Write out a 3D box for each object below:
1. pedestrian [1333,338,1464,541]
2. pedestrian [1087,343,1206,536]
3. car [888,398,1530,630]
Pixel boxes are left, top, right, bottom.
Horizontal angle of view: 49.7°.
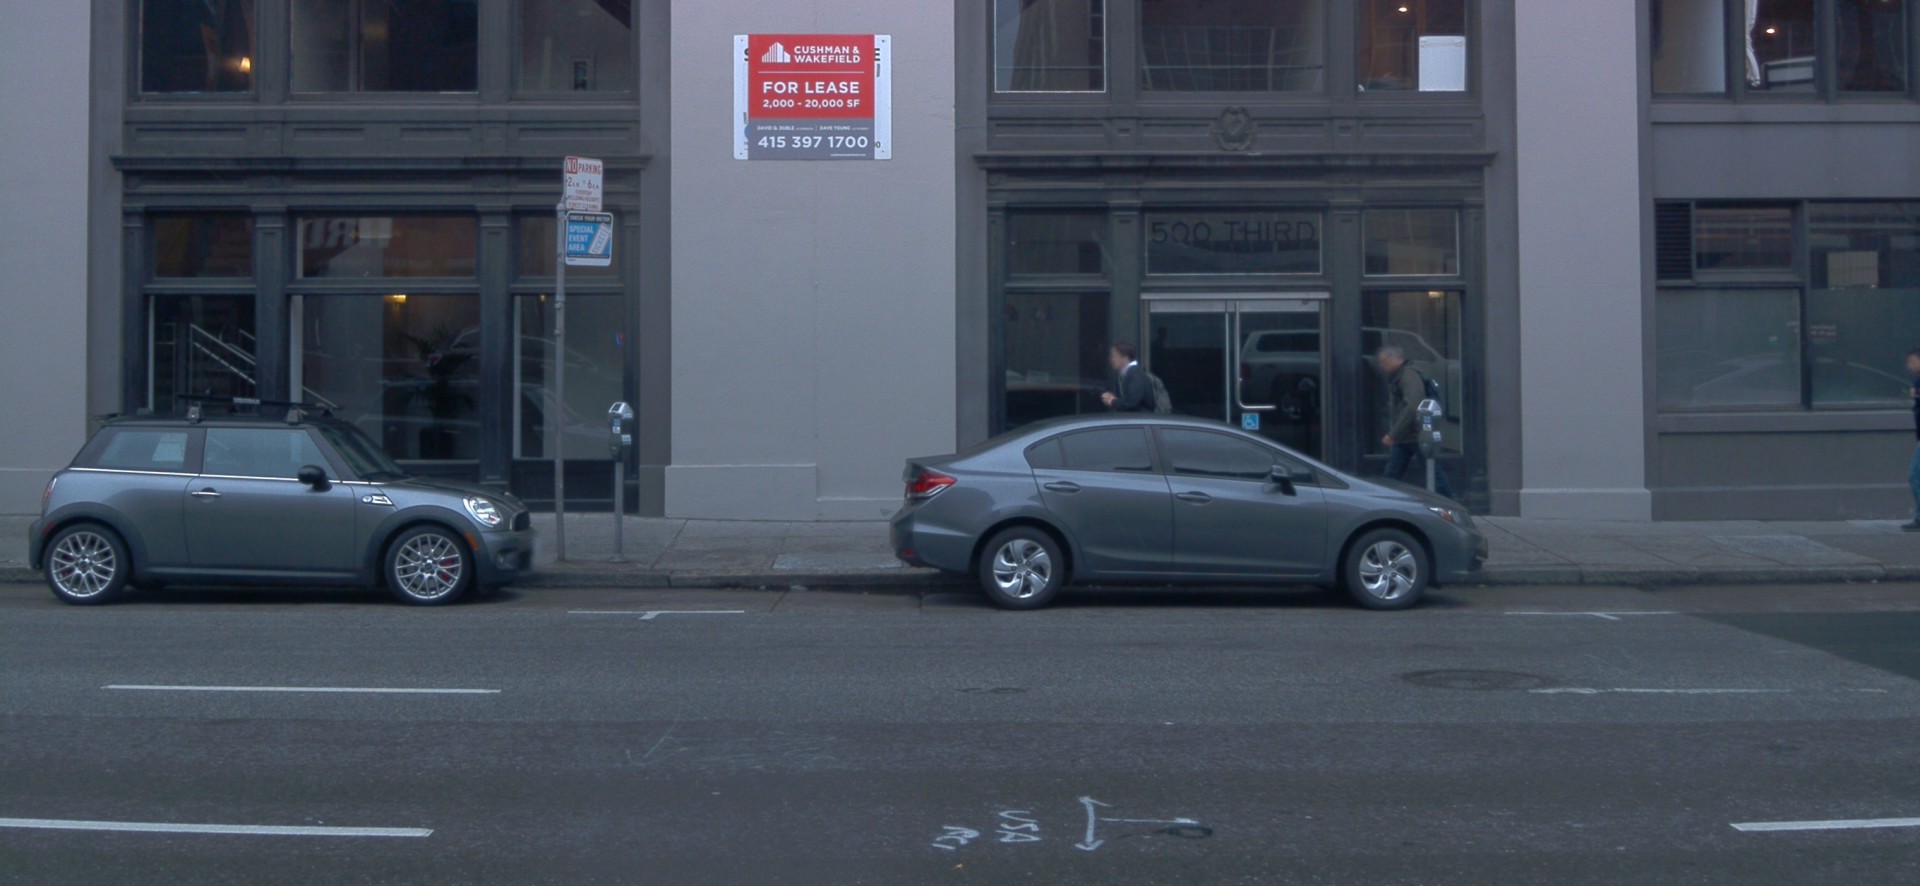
[{"bbox_3d":[4.068,-0.054,19.328,1.010,1.800,0.864,0,1,-2],"label":"pedestrian"},{"bbox_3d":[1.753,-0.050,19.628,1.027,1.740,0.850,0,1,-1],"label":"pedestrian"},{"bbox_3d":[1.762,0.483,15.862,4.616,1.477,2.025,0,4,-2],"label":"car"}]
